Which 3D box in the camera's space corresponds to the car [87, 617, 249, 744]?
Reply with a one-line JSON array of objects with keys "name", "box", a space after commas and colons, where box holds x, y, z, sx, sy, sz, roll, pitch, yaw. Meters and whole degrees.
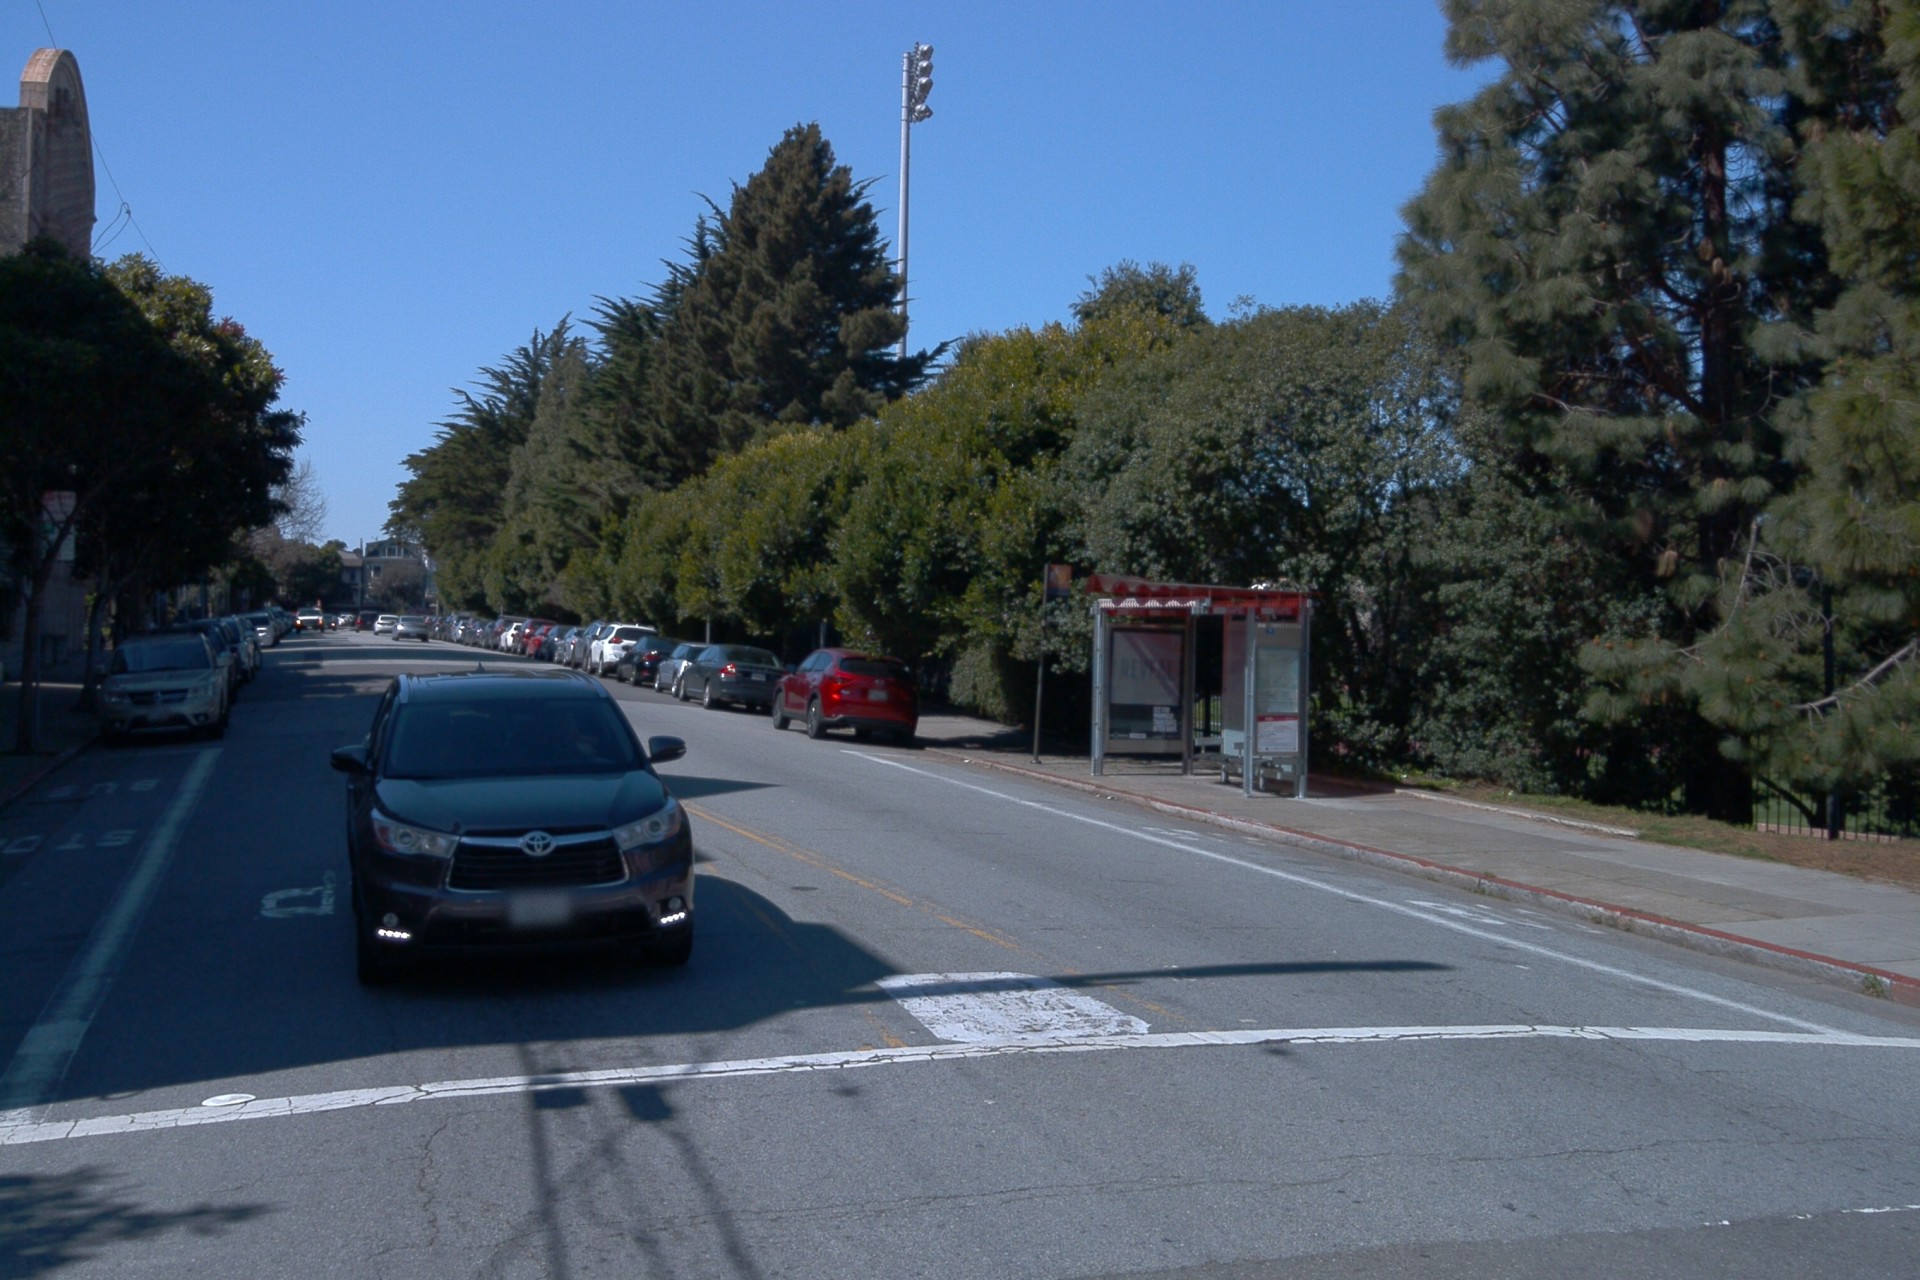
[{"name": "car", "box": [-12.872, 0.586, 33.702, 2.223, 1.880, 5.015, 0, 1, -18]}]

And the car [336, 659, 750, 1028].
[{"name": "car", "box": [-2.915, 1.089, 13.384, 2.174, 1.800, 4.864, 0, 1, -17]}]

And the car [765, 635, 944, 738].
[{"name": "car", "box": [-2.033, 0.800, 38.166, 2.212, 1.700, 4.648, 0, 1, -18]}]
